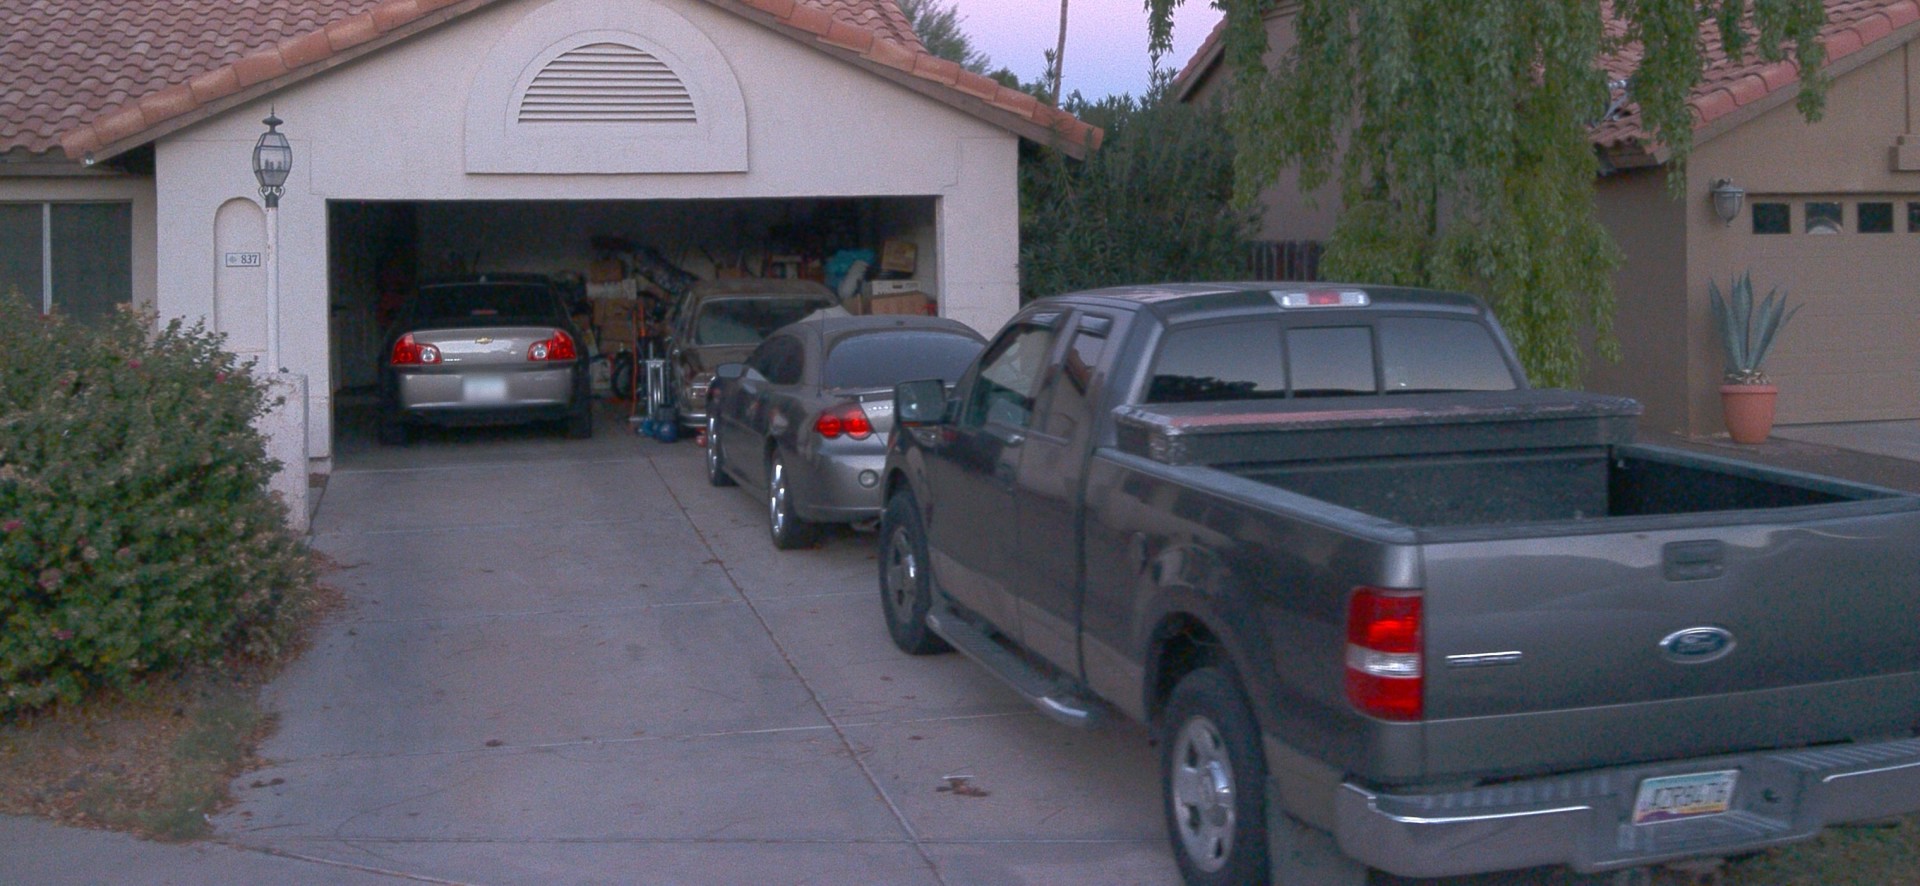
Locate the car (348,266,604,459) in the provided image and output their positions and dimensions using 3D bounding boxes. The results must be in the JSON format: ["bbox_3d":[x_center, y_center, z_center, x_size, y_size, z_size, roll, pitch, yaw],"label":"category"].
[{"bbox_3d":[-4.312,-0.849,18.947,2.007,1.485,4.475,-1,5,-11],"label":"car"}]

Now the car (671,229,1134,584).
[{"bbox_3d":[-0.610,-0.442,13.909,2.032,1.924,4.747,-1,5,-15],"label":"car"}]

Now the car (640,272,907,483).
[{"bbox_3d":[-1.882,-0.743,19.431,1.911,1.650,4.609,-1,5,-12],"label":"car"}]
